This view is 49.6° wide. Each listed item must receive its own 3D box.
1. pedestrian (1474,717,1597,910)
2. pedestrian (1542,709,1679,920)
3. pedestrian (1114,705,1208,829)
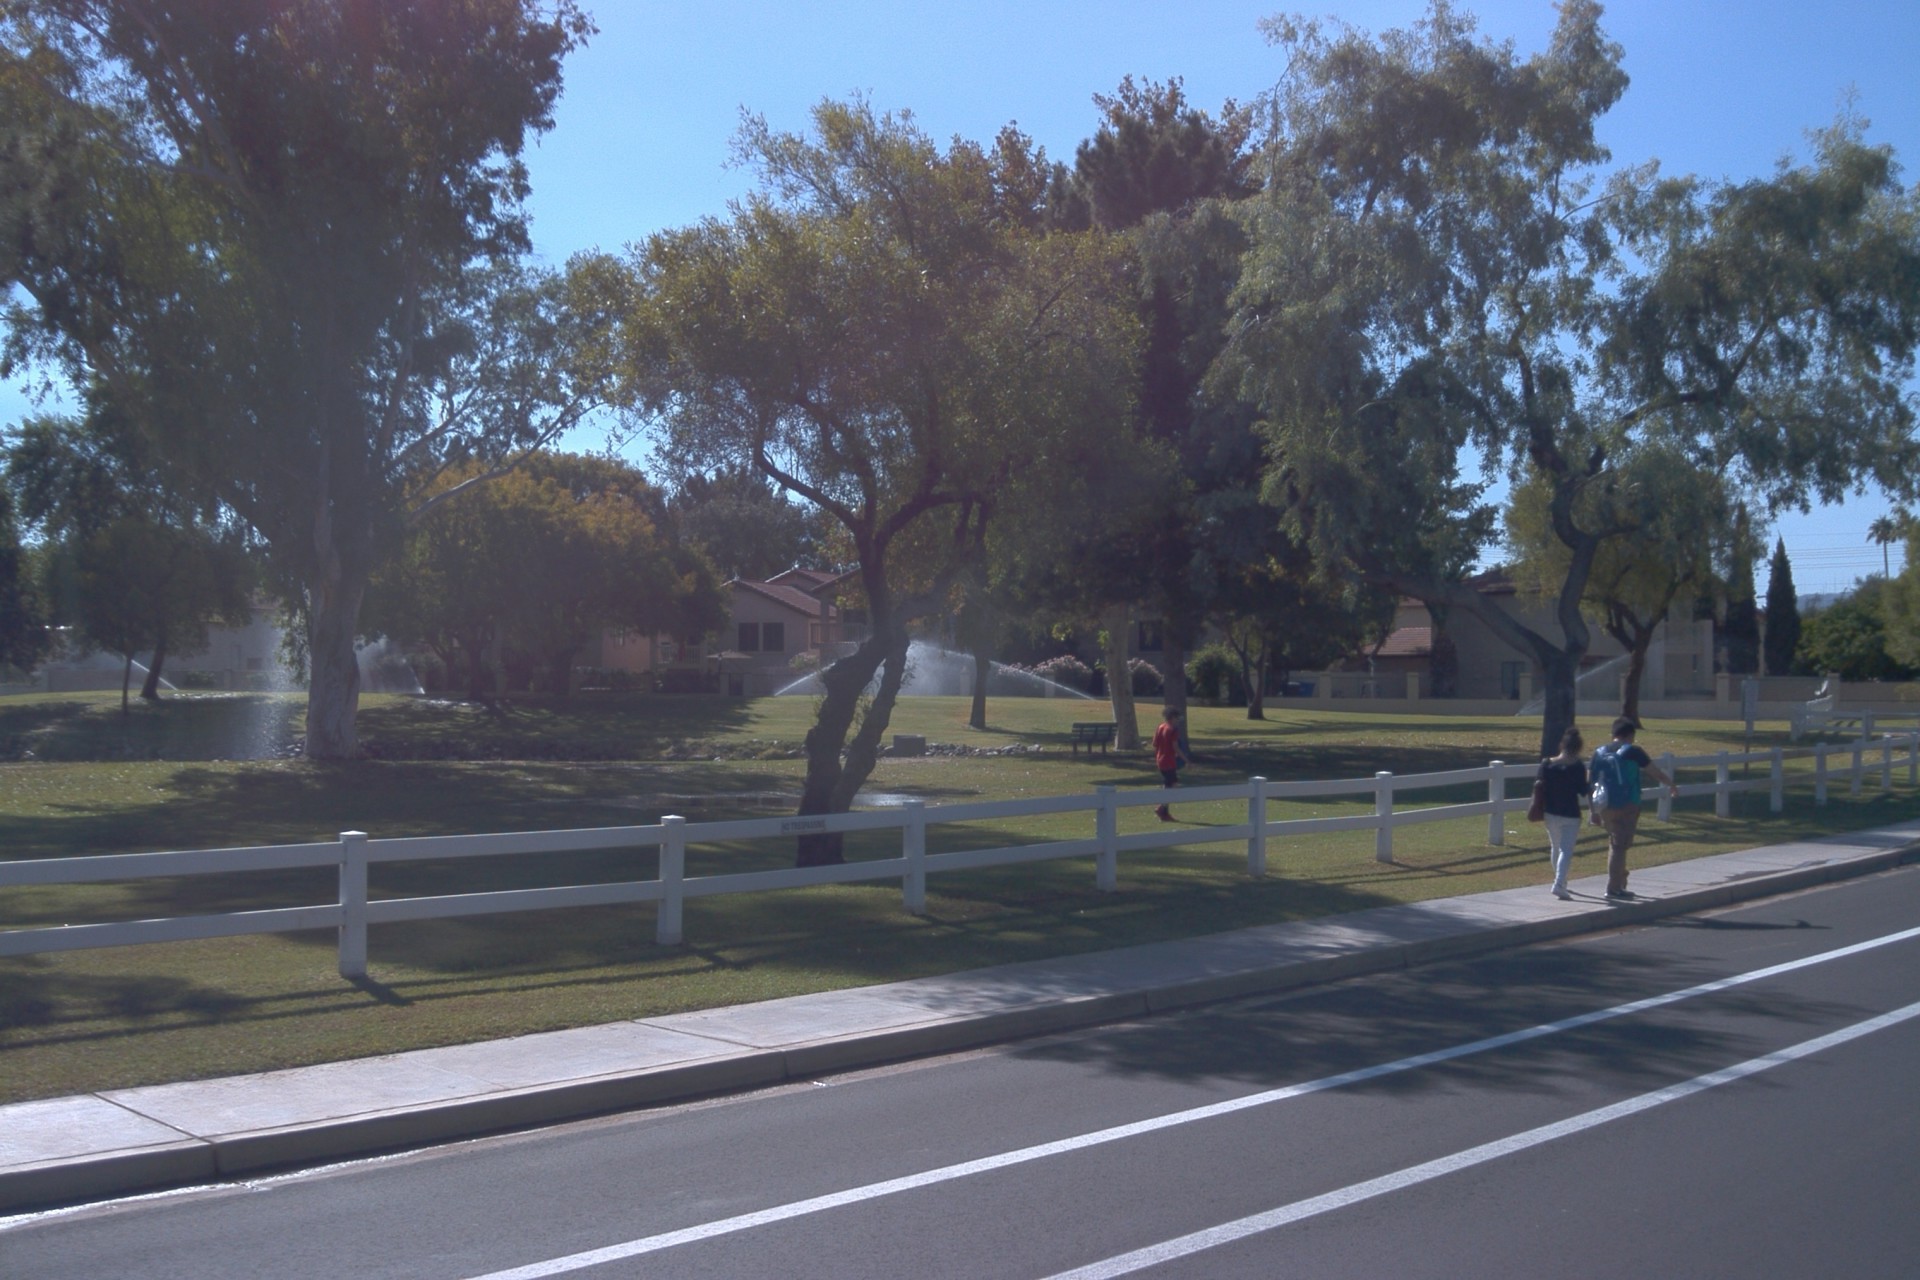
[{"bbox_3d":[5.387,1.590,19.429,0.725,1.710,1.012,0,-1,40],"label":"pedestrian"},{"bbox_3d":[6.026,1.581,19.235,0.851,1.850,1.041,0,-1,40],"label":"pedestrian"},{"bbox_3d":[2.915,1.822,30.160,0.902,1.734,0.995,1,-1,-33],"label":"pedestrian"}]
